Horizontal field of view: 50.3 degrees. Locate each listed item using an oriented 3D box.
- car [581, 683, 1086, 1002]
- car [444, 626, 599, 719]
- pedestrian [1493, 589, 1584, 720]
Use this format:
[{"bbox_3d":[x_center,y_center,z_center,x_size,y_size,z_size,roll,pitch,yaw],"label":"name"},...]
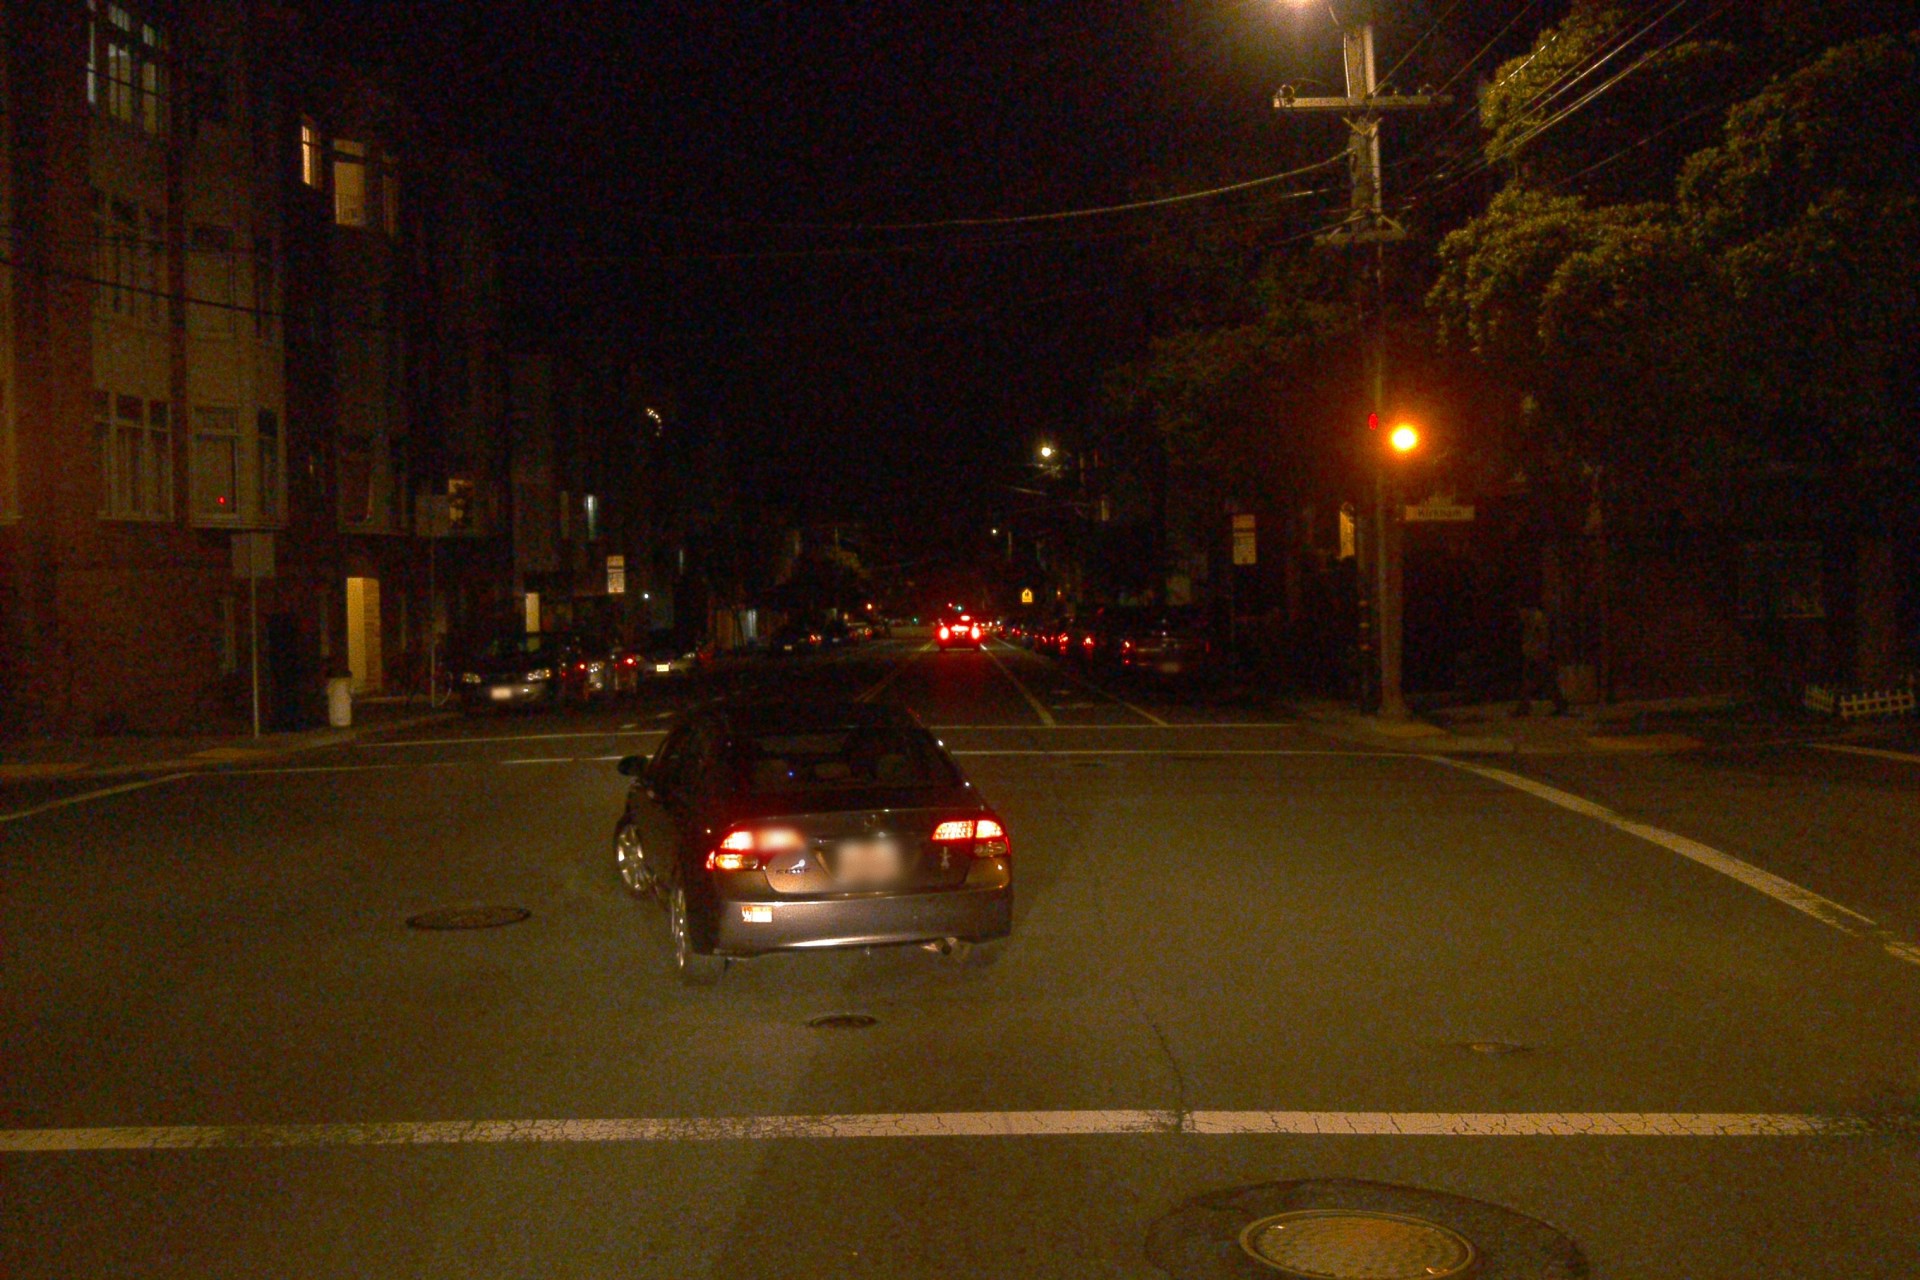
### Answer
[{"bbox_3d":[-1.002,1.032,12.392,2.068,1.420,4.594,0,0,-16],"label":"car"},{"bbox_3d":[-7.902,0.550,37.178,1.948,1.580,4.098,1,0,0],"label":"car"},{"bbox_3d":[7.542,0.187,26.677,0.936,1.691,0.623,0,0,-13],"label":"pedestrian"}]
